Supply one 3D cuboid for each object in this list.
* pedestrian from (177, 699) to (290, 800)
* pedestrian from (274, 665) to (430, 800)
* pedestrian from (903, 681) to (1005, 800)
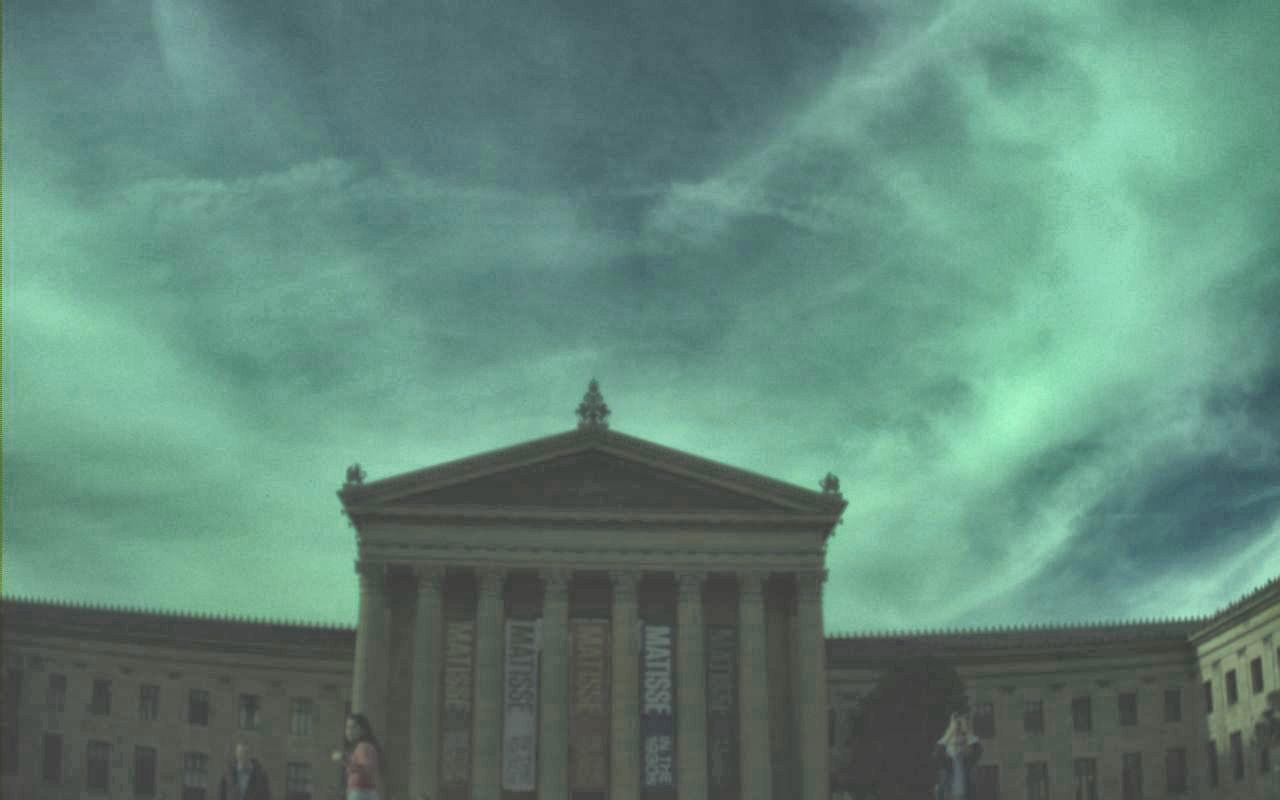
[{"bbox_3d":[-4.310,4.139,12.090,0.821,1.707,0.826,0,0,10],"label":"pedestrian"},{"bbox_3d":[-2.212,2.975,8.998,0.797,1.697,0.794,1,0,32],"label":"pedestrian"},{"bbox_3d":[2.914,3.554,10.976,0.812,1.724,0.802,0,0,12],"label":"pedestrian"}]
